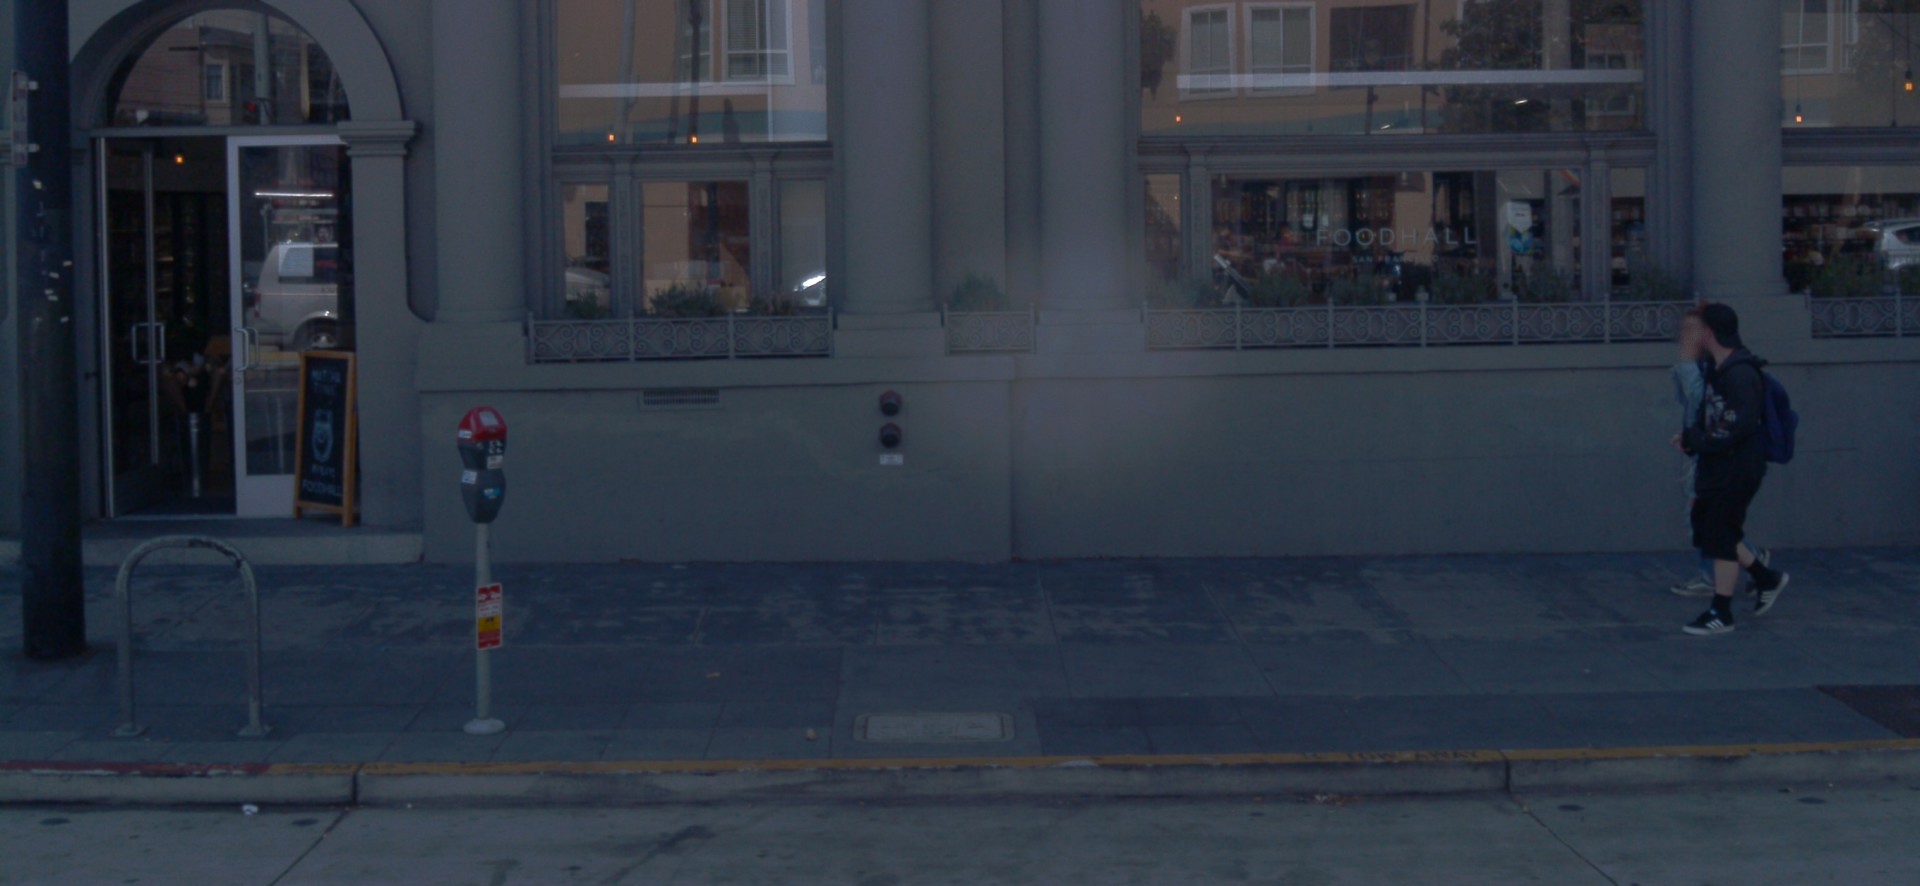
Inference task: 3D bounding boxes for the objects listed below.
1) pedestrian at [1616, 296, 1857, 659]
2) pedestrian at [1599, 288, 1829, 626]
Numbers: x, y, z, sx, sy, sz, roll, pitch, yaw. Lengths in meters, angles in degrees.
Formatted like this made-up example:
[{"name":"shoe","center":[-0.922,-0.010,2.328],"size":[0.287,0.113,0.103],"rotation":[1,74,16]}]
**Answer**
[{"name":"pedestrian","center":[4.008,0.147,10.664],"size":[0.984,1.799,0.714],"rotation":[0,1,0]},{"name":"pedestrian","center":[4.142,0.050,11.347],"size":[1.028,1.789,0.691],"rotation":[0,1,1]}]
